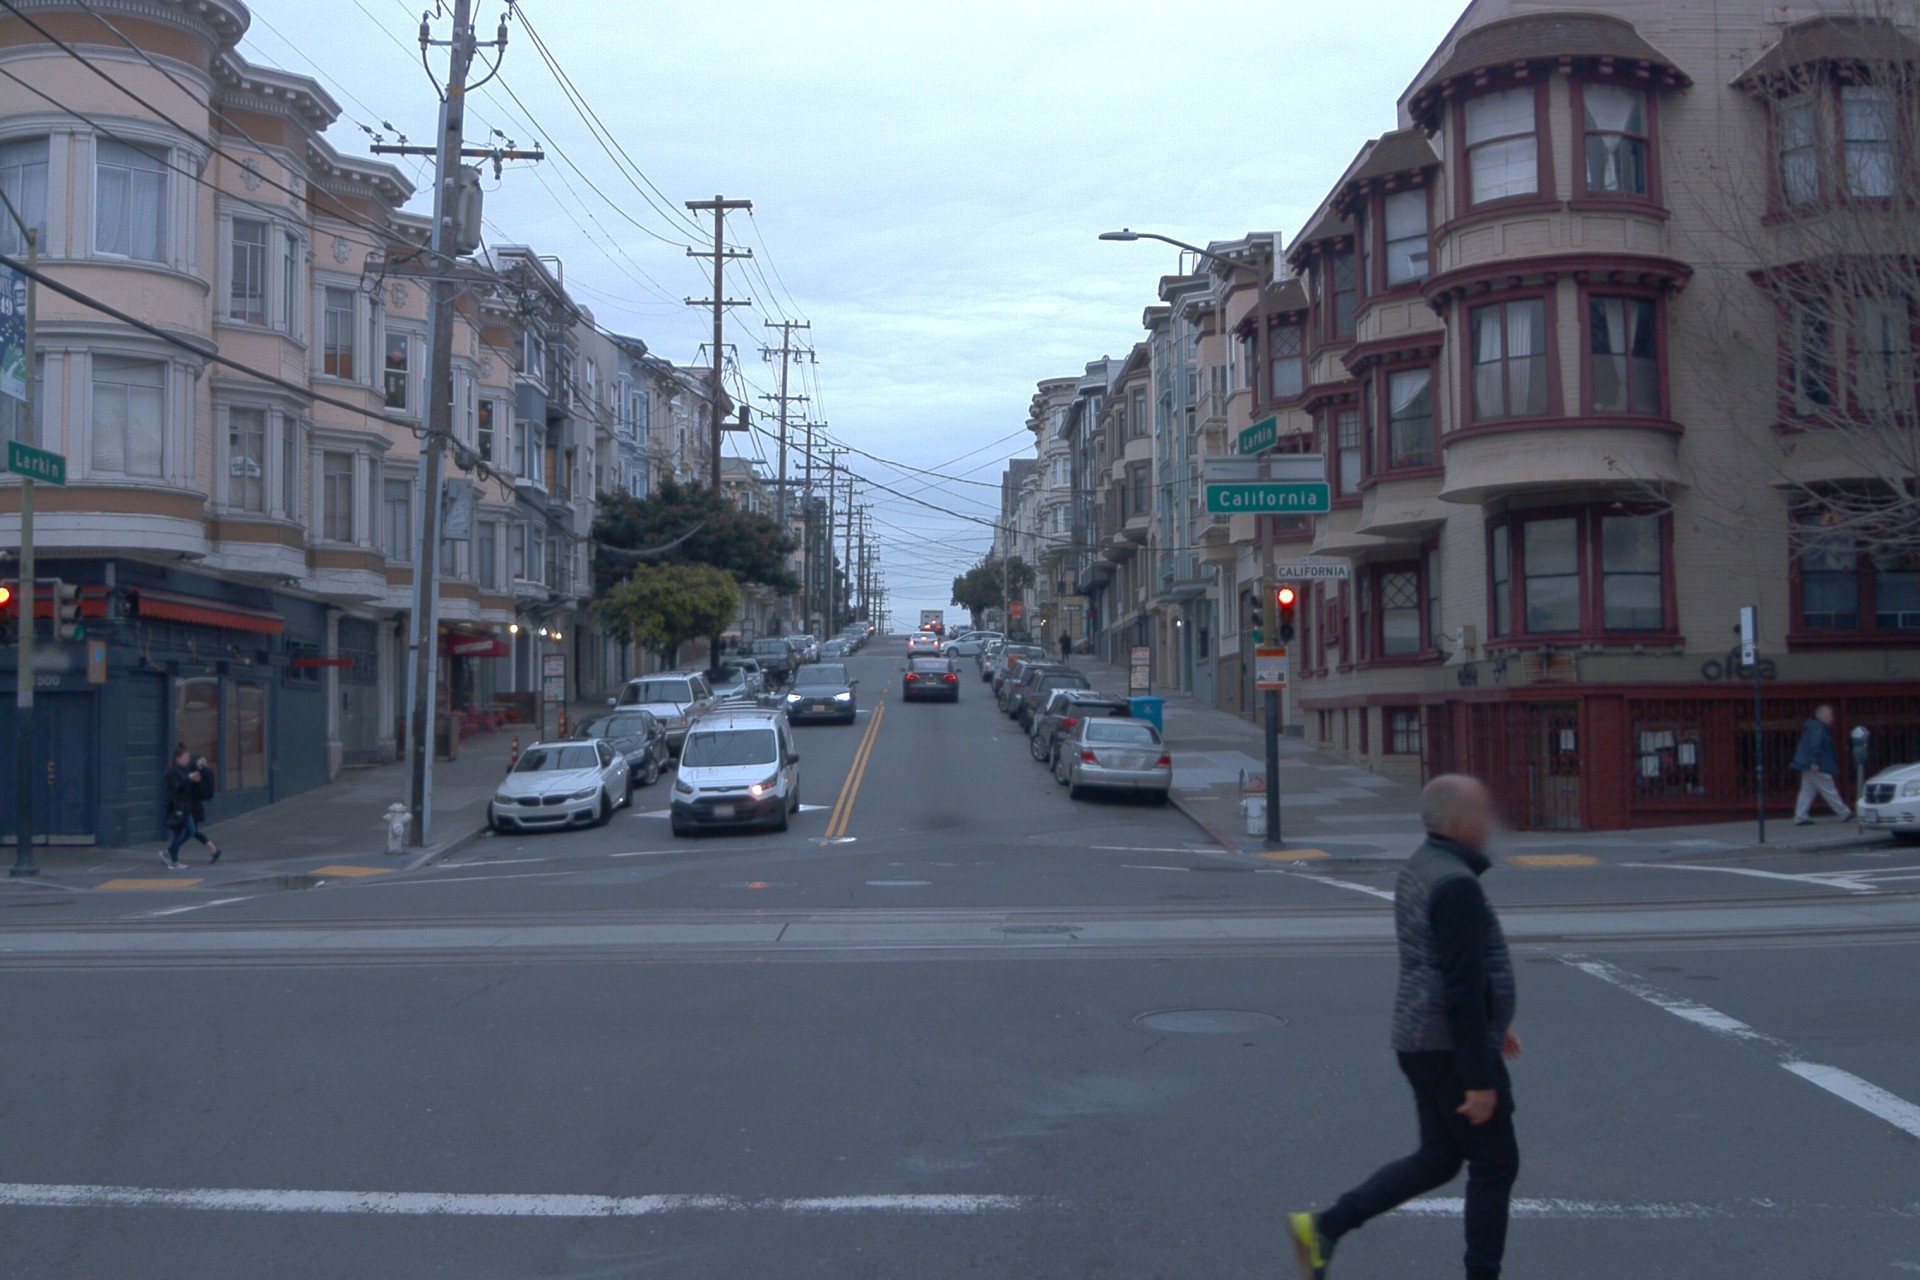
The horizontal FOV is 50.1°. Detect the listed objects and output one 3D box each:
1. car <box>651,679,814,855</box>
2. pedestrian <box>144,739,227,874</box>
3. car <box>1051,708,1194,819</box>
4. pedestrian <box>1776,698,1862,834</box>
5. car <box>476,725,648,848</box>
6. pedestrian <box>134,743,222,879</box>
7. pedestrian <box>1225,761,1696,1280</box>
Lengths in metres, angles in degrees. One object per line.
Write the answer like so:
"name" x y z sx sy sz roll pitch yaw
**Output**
"car" -3.621 1.978 33.587 2.196 2.490 4.690 0 1 -1
"pedestrian" -10.931 2.342 29.041 0.943 1.820 0.723 0 1 -8
"car" 2.937 2.235 38.183 2.108 1.700 4.470 0 1 -2
"pedestrian" 12.047 1.747 28.854 0.908 1.830 0.913 0 1 9
"car" -6.813 2.477 35.707 2.150 1.707 4.680 0 1 -1
"pedestrian" -10.786 2.344 28.371 0.941 1.800 0.776 0 1 -4
"pedestrian" 1.510 1.269 6.411 1.250 1.716 0.878 0 1 0
